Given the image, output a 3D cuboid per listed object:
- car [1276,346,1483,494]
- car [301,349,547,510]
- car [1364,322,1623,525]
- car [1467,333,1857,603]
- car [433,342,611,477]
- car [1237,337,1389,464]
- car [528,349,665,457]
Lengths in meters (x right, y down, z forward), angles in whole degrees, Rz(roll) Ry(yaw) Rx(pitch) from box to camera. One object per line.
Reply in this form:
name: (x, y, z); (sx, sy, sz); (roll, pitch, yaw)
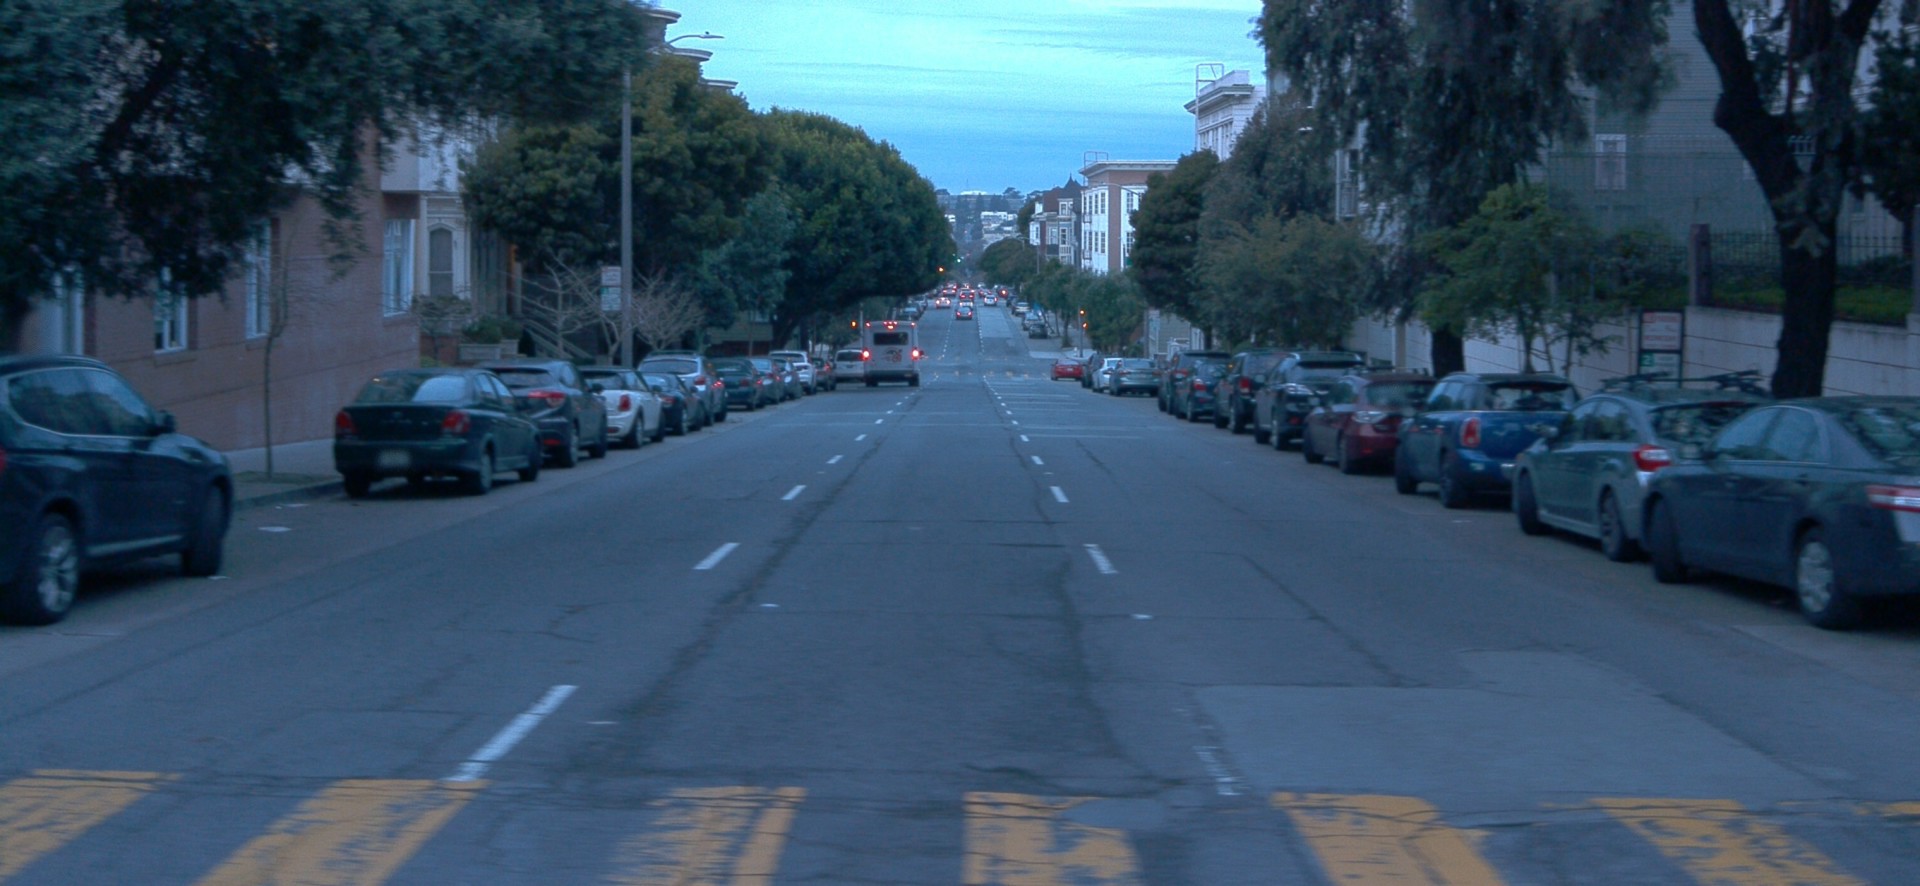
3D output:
car: (6.164, -0.420, 30.770); (2.212, 1.782, 4.300); (0, 5, 0)
car: (-6.412, -0.243, 25.057); (1.884, 1.553, 3.981); (0, 5, 1)
car: (6.191, -0.325, 24.378); (2.046, 2.002, 4.022); (0, 5, 0)
car: (6.178, 0.088, 18.702); (2.065, 1.932, 4.288); (0, 5, 0)
car: (-6.447, -0.567, 30.685); (1.838, 1.643, 3.992); (0, 5, -1)
car: (6.251, -0.834, 36.921); (2.035, 1.862, 4.611); (0, 5, 1)
car: (-6.320, -0.748, 36.139); (1.856, 1.563, 3.628); (0, 5, -2)
